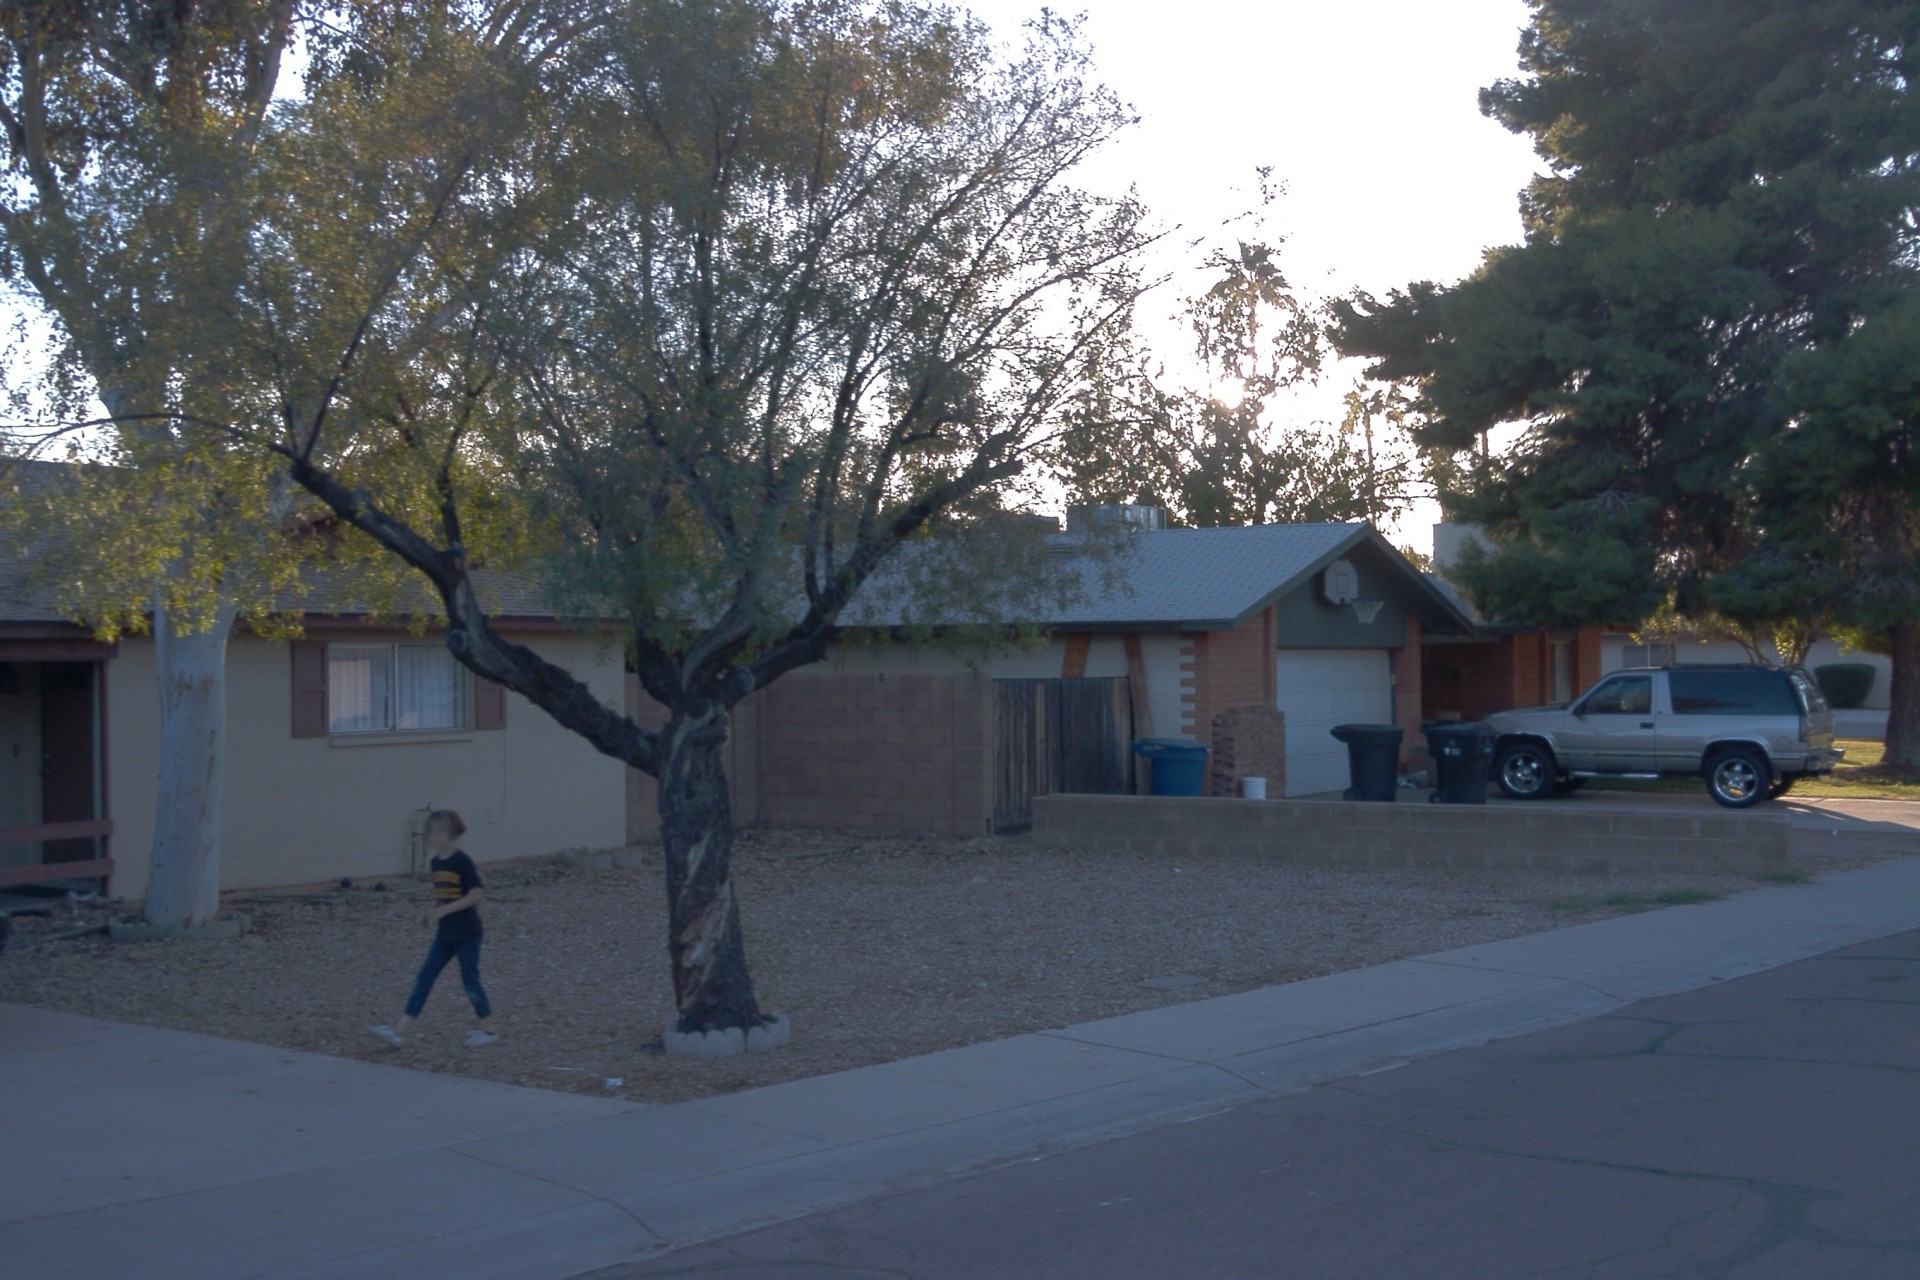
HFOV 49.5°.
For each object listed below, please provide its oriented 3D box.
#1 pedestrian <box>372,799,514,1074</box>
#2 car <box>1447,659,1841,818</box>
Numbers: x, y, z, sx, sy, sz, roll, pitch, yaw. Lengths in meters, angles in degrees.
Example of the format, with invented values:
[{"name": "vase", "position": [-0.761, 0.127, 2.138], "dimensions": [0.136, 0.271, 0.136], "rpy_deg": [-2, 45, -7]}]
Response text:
[{"name": "pedestrian", "position": [-2.841, 1.601, 11.440], "dimensions": [0.589, 1.400, 0.528], "rpy_deg": [0, 0, -39]}, {"name": "car", "position": [9.462, 1.280, 28.856], "dimensions": [4.737, 1.990, 2.350], "rpy_deg": [0, 0, 32]}]
